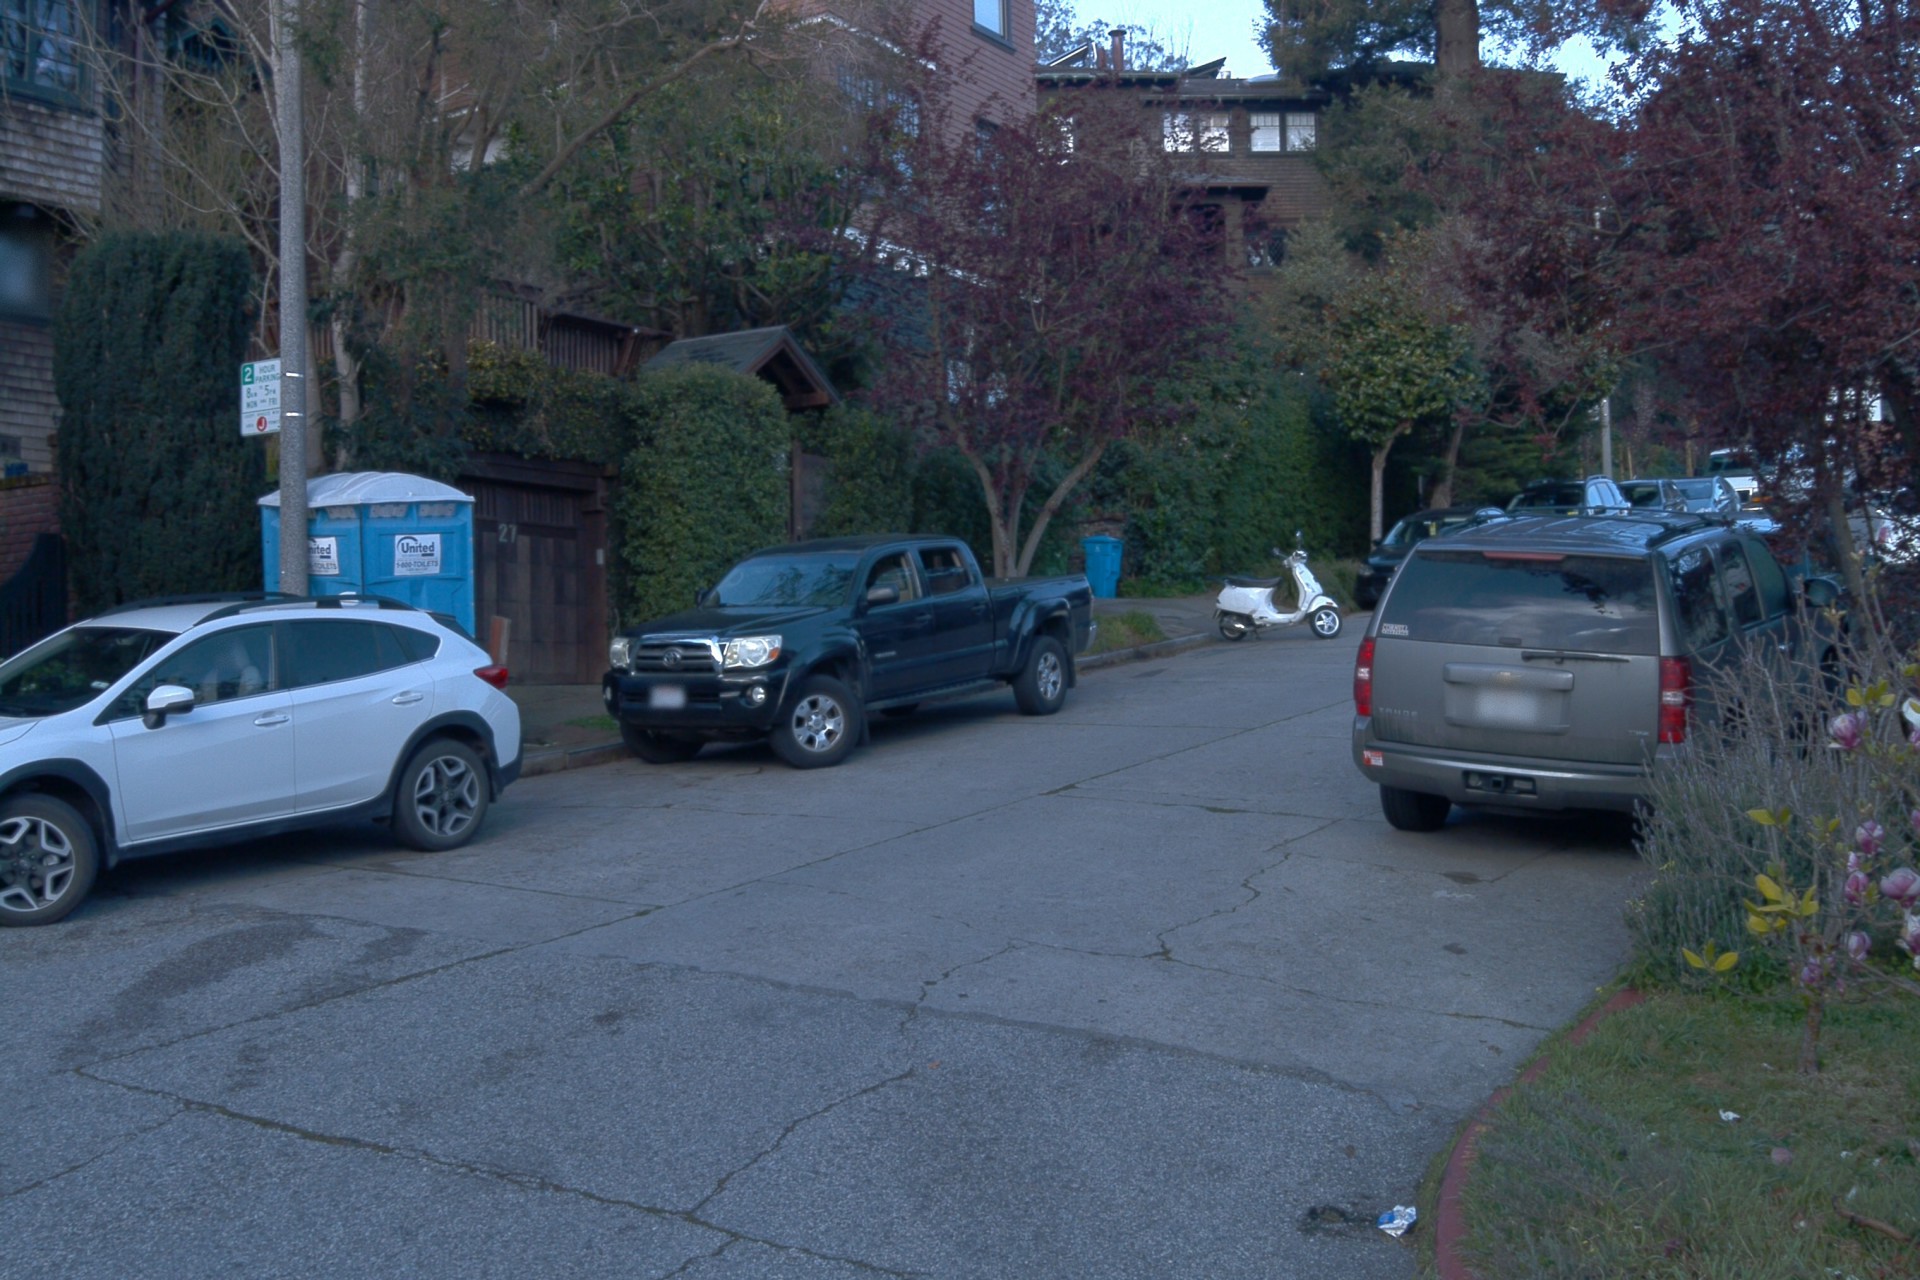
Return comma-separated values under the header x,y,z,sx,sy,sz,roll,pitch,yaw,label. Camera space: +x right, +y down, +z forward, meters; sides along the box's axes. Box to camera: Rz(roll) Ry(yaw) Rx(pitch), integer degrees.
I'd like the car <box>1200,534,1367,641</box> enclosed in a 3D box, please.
x,y,z,sx,sy,sz,roll,pitch,yaw,label
4.158,-0.649,26.432,1.921,1.324,0.959,0,0,26,car

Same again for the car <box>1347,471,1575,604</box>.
x,y,z,sx,sy,sz,roll,pitch,yaw,label
7.903,-1.512,32.148,2.067,1.817,4.775,0,0,32,car

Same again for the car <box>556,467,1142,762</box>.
x,y,z,sx,sy,sz,roll,pitch,yaw,label
-0.703,-0.179,17.993,2.255,2.139,5.768,0,0,31,car
